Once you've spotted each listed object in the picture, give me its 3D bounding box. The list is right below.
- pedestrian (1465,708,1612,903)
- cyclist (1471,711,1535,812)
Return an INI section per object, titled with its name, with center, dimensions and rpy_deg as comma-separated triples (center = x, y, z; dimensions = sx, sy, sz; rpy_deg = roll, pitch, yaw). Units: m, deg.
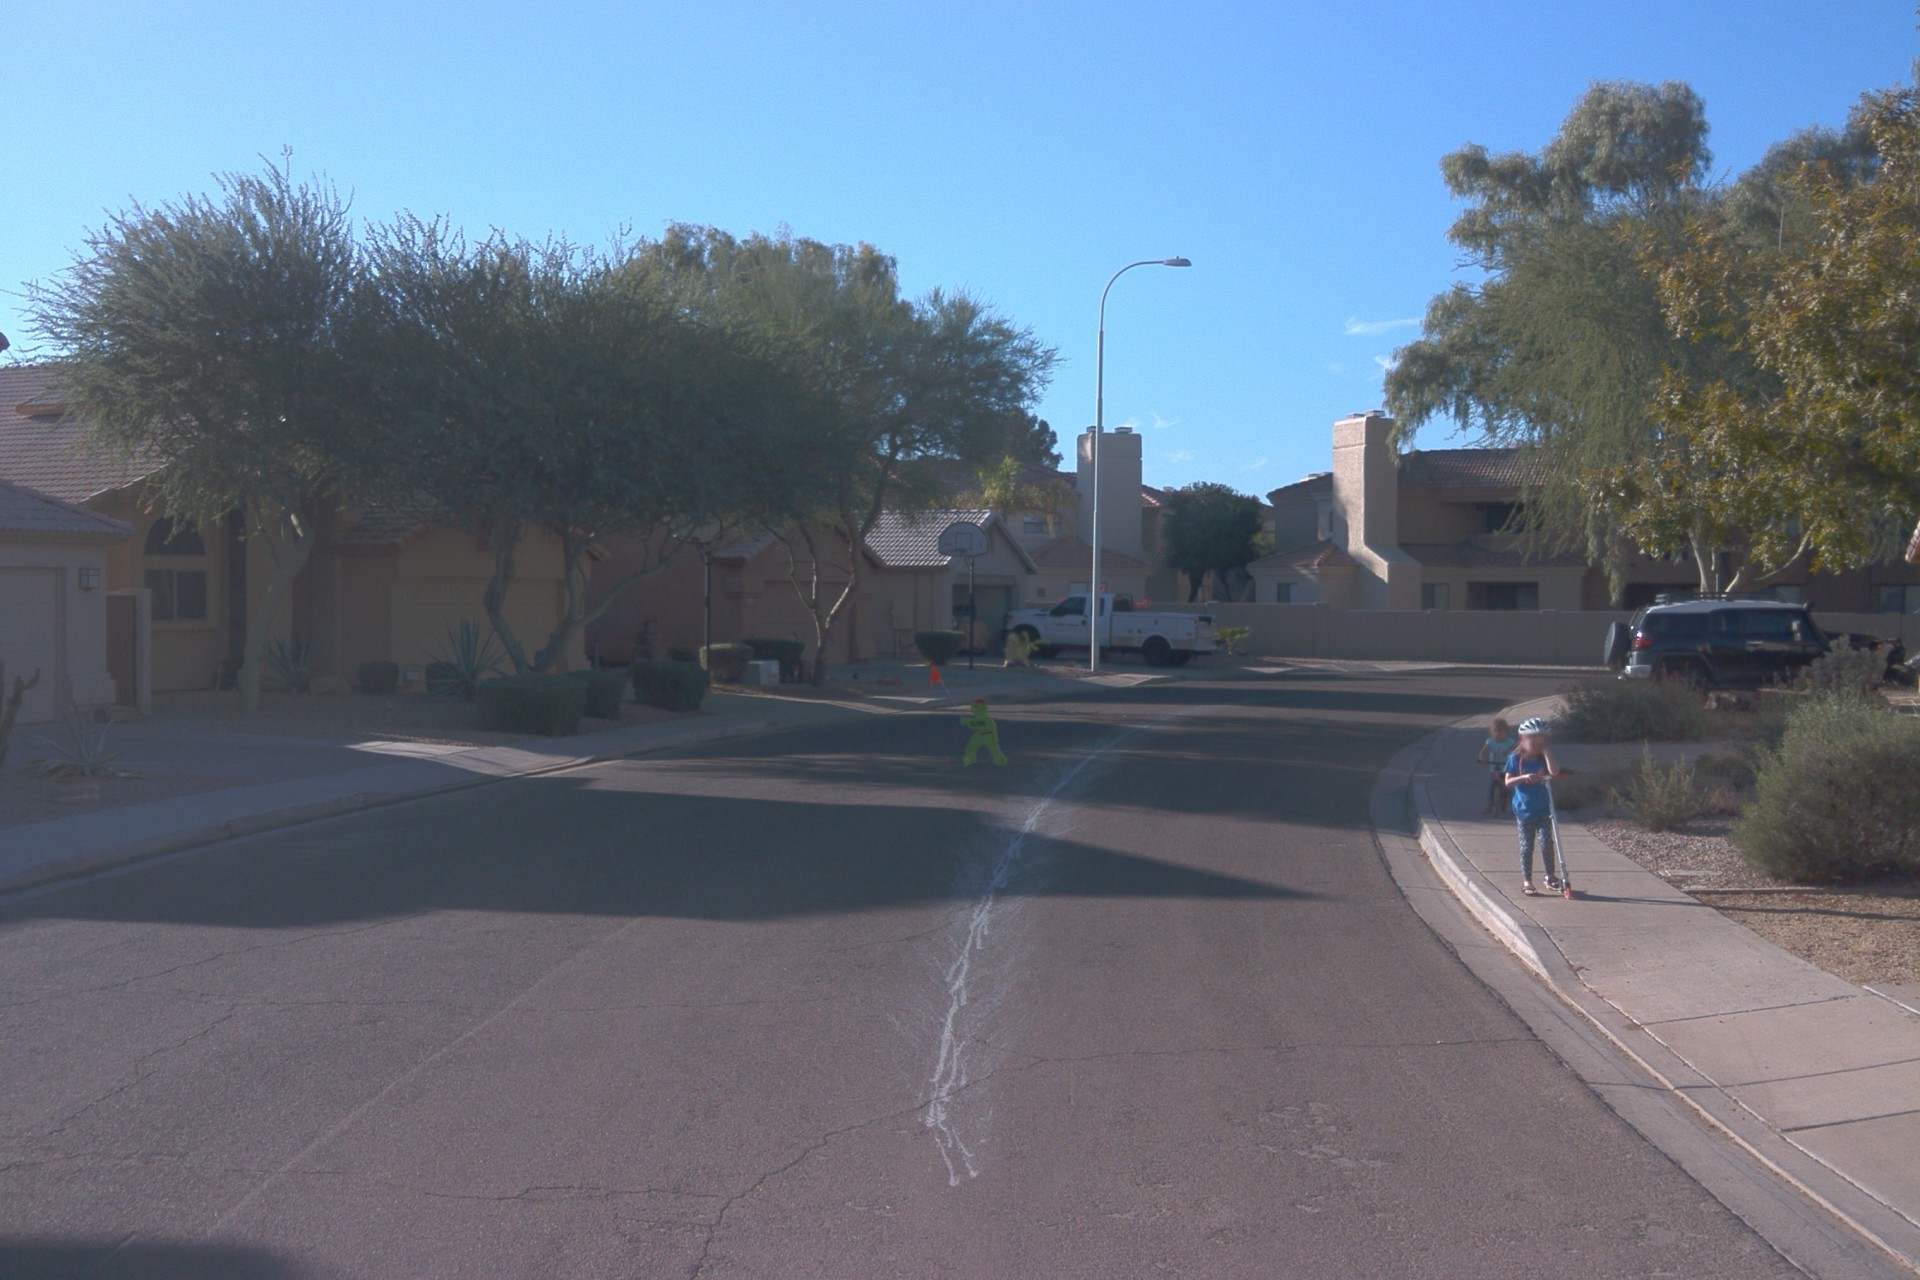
[pedestrian]
center = 3.898, 1.094, 14.084
dimensions = 0.543, 1.230, 1.166
rpy_deg = 0, 0, -7
[cyclist]
center = 5.001, 1.110, 19.197
dimensions = 0.535, 0.890, 0.819
rpy_deg = 0, 0, 12
